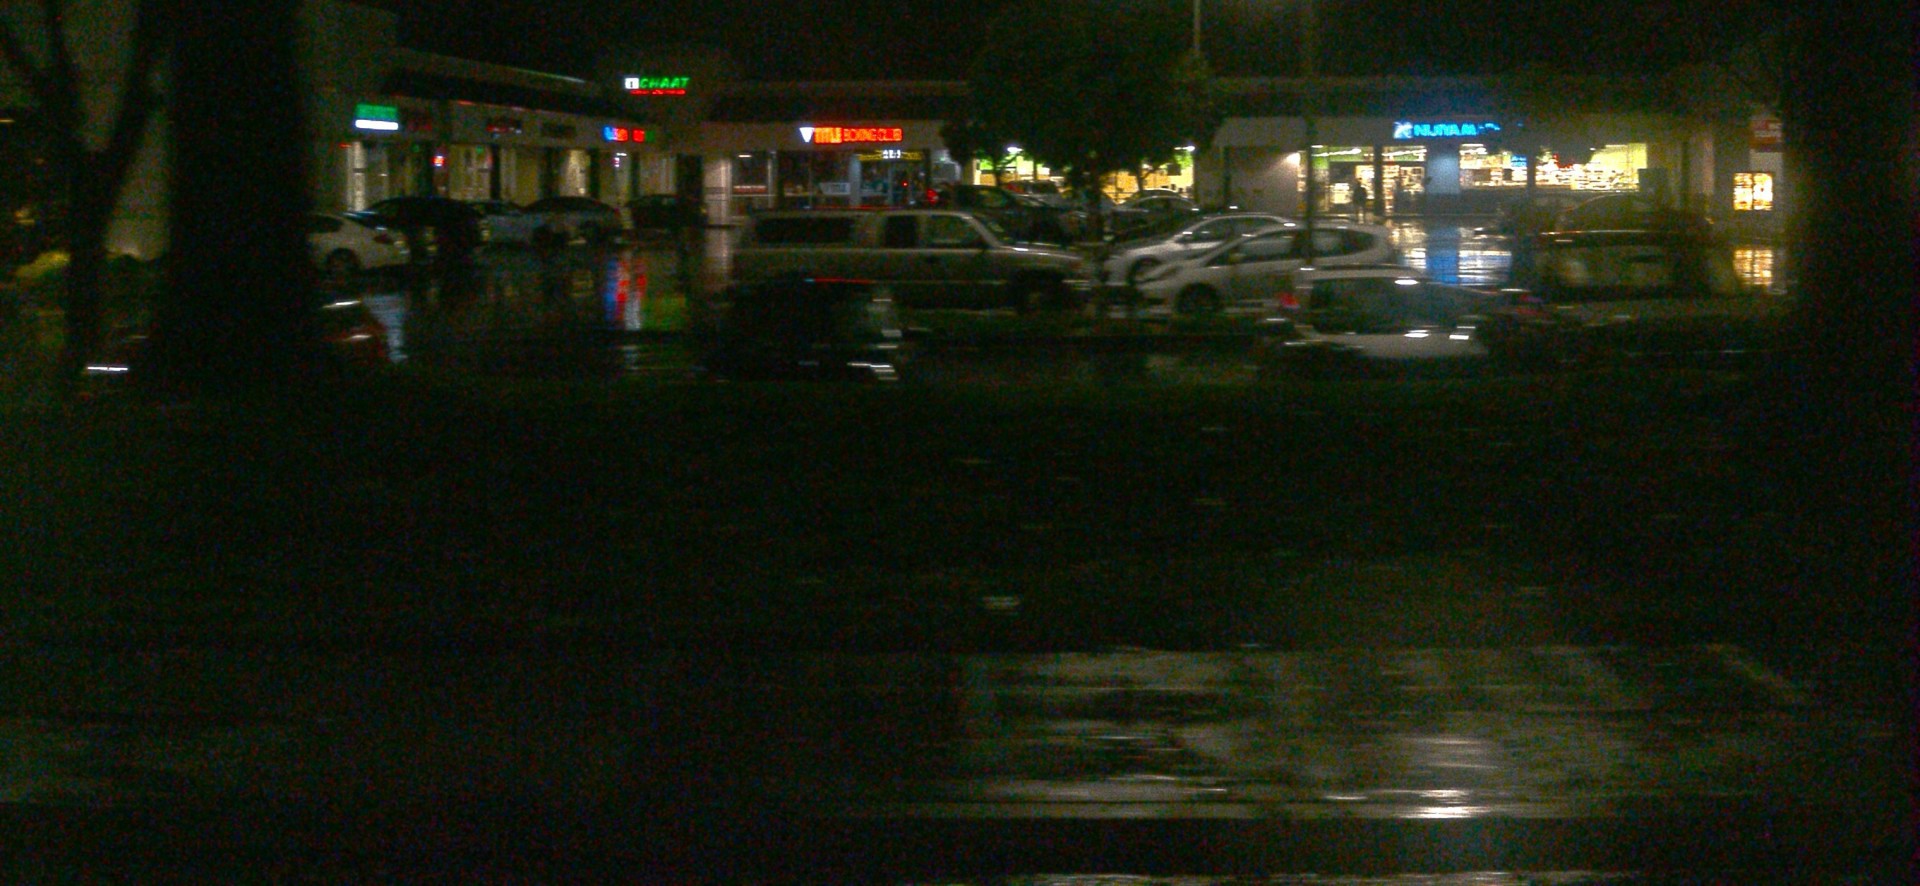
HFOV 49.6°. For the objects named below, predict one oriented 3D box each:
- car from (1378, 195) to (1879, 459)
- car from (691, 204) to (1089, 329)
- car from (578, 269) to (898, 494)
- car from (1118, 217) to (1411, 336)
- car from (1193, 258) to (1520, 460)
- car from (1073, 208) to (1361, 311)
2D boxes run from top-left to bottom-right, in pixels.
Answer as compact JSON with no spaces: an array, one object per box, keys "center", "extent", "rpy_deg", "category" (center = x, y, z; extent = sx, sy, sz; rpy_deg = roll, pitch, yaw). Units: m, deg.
[{"center":[5.597,-1.136,18.477],"extent":[2.446,1.953,5.850],"rpy_deg":[0,5,-2],"category":"car"},{"center":[-0.986,-2.719,31.863],"extent":[5.863,1.787,2.418],"rpy_deg":[1,3,2],"category":"car"},{"center":[-1.704,-0.650,17.690],"extent":[2.163,1.595,4.731],"rpy_deg":[0,5,0],"category":"car"},{"center":[4.519,-2.533,31.435],"extent":[4.199,1.698,2.077],"rpy_deg":[1,3,3],"category":"car"},{"center":[3.291,-0.828,18.081],"extent":[2.005,1.525,4.087],"rpy_deg":[0,5,-1],"category":"car"},{"center":[4.507,-3.281,37.095],"extent":[4.967,1.748,2.062],"rpy_deg":[1,3,3],"category":"car"}]
